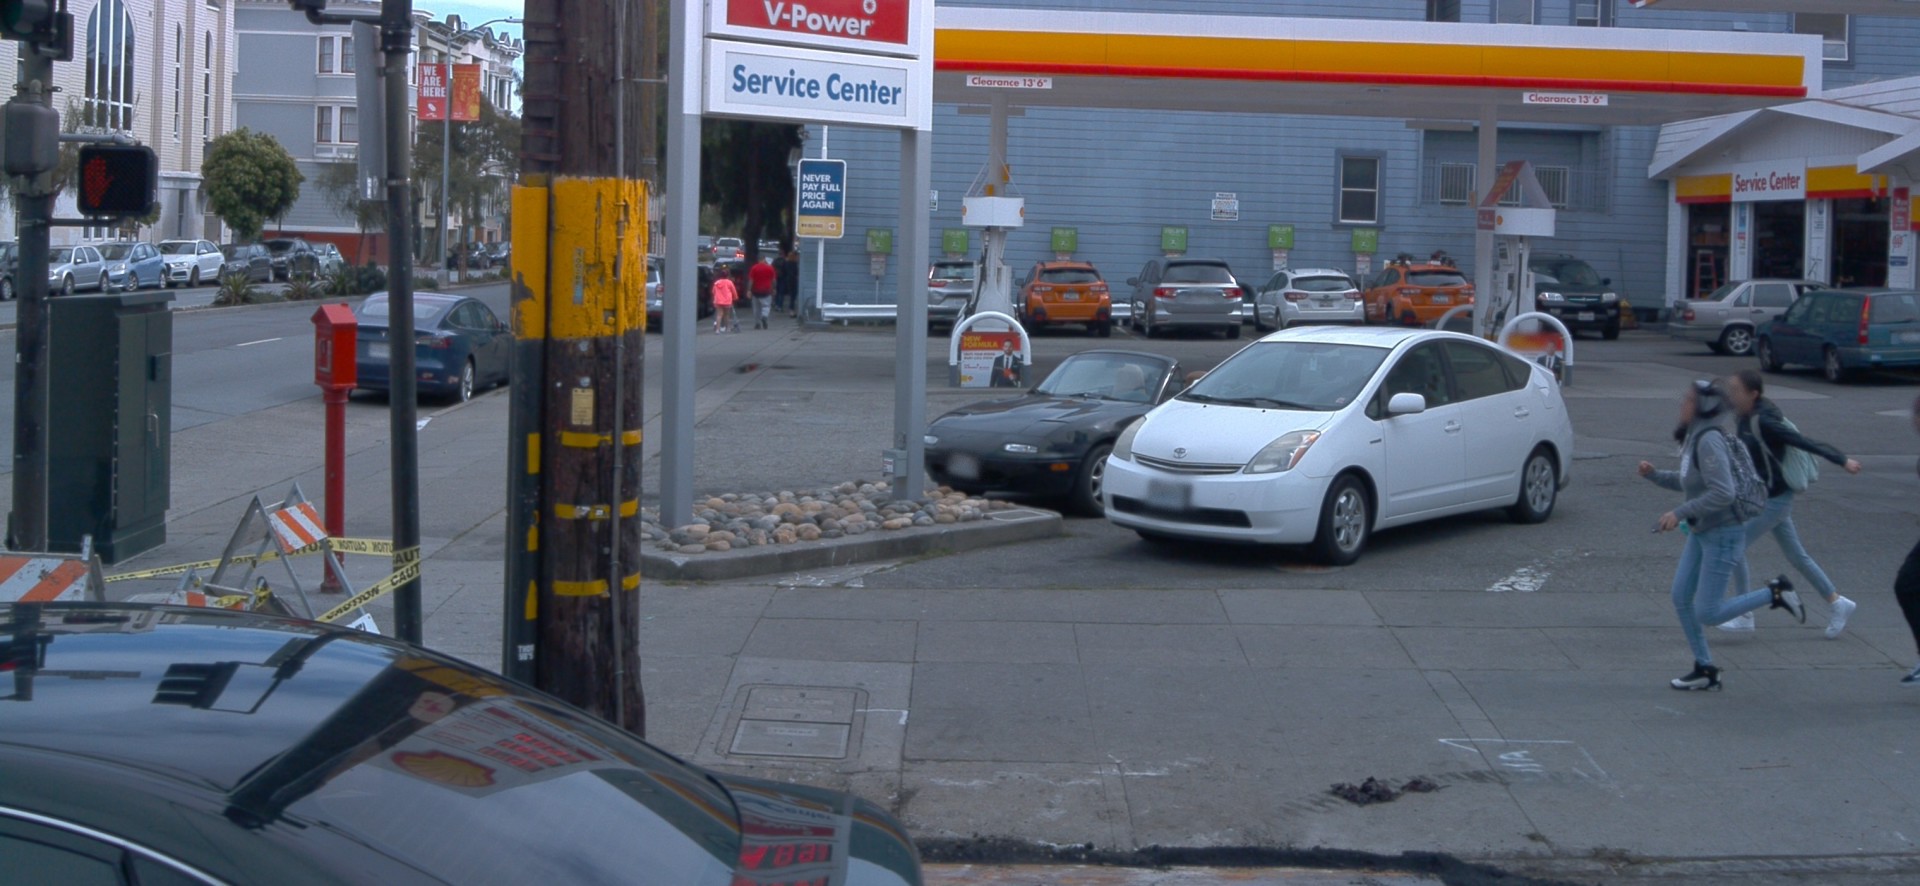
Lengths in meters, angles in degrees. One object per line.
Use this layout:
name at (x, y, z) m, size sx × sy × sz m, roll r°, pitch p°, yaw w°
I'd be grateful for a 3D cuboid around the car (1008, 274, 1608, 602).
car at (2.633, -0.223, 14.781) m, size 2.101 × 1.802 × 4.536 m, roll 4°, pitch 7°, yaw 43°

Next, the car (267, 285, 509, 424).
car at (-7.696, -1.289, 28.239) m, size 2.011 × 1.551 × 4.535 m, roll 0°, pitch 6°, yaw 0°

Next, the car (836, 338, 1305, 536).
car at (0.974, -0.144, 16.599) m, size 1.836 × 1.134 × 3.707 m, roll 4°, pitch 8°, yaw 43°

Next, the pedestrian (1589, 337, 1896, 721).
pedestrian at (3.897, 0.398, 10.349) m, size 1.240 × 1.797 × 0.807 m, roll 0°, pitch 2°, yaw 1°
